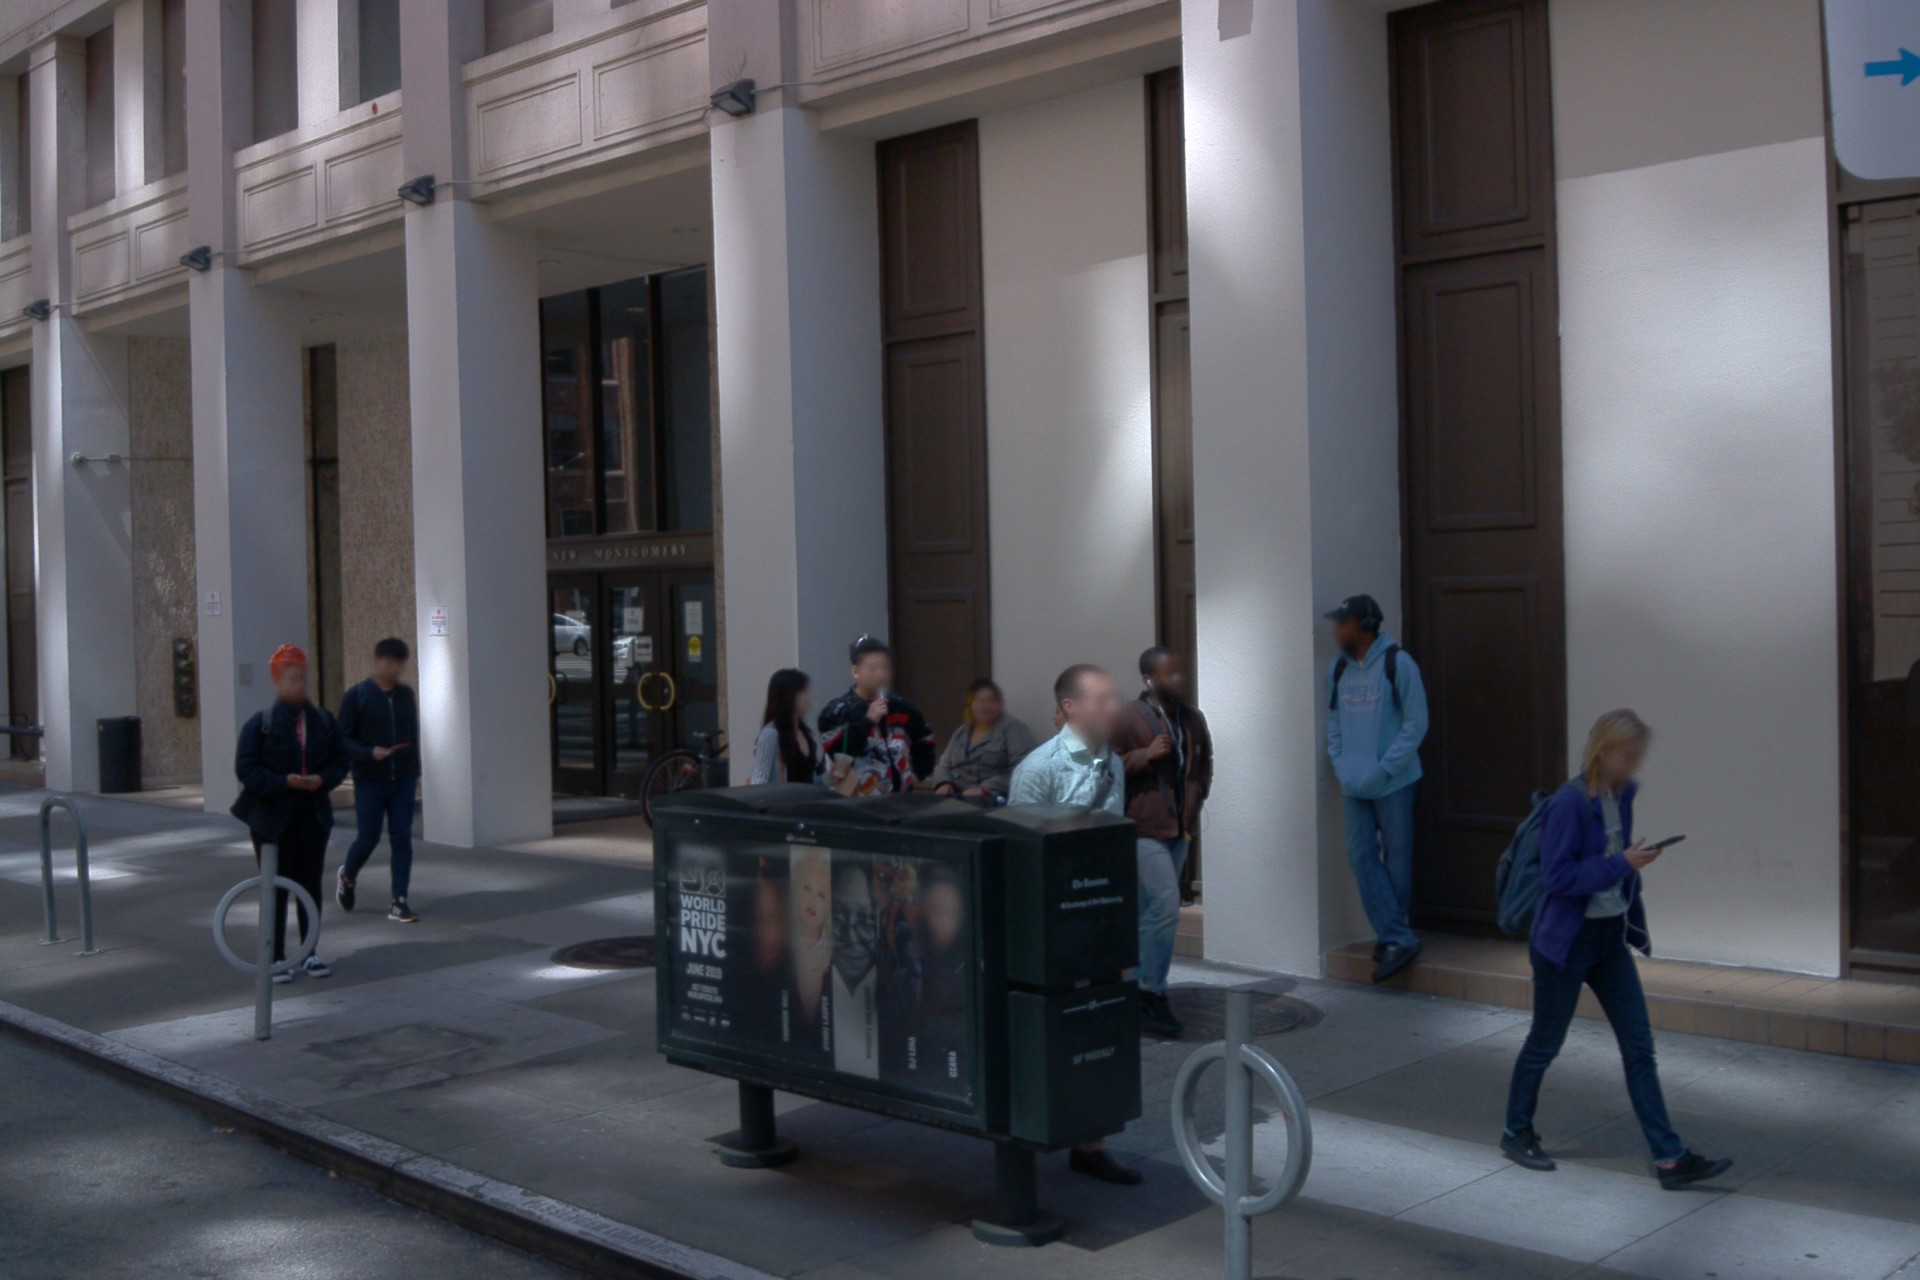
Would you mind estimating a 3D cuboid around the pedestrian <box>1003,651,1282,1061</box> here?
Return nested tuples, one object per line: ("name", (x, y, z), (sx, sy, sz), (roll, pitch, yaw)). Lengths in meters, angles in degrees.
("pedestrian", (0.827, 0.926, 9.429), (0.858, 1.736, 0.947), (0, 0, -34))

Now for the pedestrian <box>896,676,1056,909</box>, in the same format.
("pedestrian", (0.094, 0.897, 12.428), (0.605, 1.328, 0.752), (0, 0, -44))

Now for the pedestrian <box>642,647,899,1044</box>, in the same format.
("pedestrian", (-0.930, 0.947, 10.063), (0.997, 1.806, 0.777), (0, 0, 41))

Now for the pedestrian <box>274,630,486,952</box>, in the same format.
("pedestrian", (-3.631, 0.886, 12.833), (0.893, 1.886, 1.192), (0, 0, -37))

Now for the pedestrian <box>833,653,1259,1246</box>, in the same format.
("pedestrian", (0.292, 0.979, 7.204), (1.192, 1.846, 0.893), (0, 0, 44))

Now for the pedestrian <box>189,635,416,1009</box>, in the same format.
("pedestrian", (-3.538, 0.921, 11.050), (0.862, 1.886, 0.948), (0, 0, -40))

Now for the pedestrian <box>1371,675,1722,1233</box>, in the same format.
("pedestrian", (2.010, 1.002, 7.079), (0.735, 1.736, 0.899), (0, 0, -41))

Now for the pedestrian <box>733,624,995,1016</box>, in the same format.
("pedestrian", (-0.502, 0.871, 10.677), (0.889, 1.906, 1.037), (0, 0, -45))

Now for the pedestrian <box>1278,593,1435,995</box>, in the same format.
("pedestrian", (1.954, 0.727, 10.119), (0.541, 1.903, 0.550), (0, 0, 44))
